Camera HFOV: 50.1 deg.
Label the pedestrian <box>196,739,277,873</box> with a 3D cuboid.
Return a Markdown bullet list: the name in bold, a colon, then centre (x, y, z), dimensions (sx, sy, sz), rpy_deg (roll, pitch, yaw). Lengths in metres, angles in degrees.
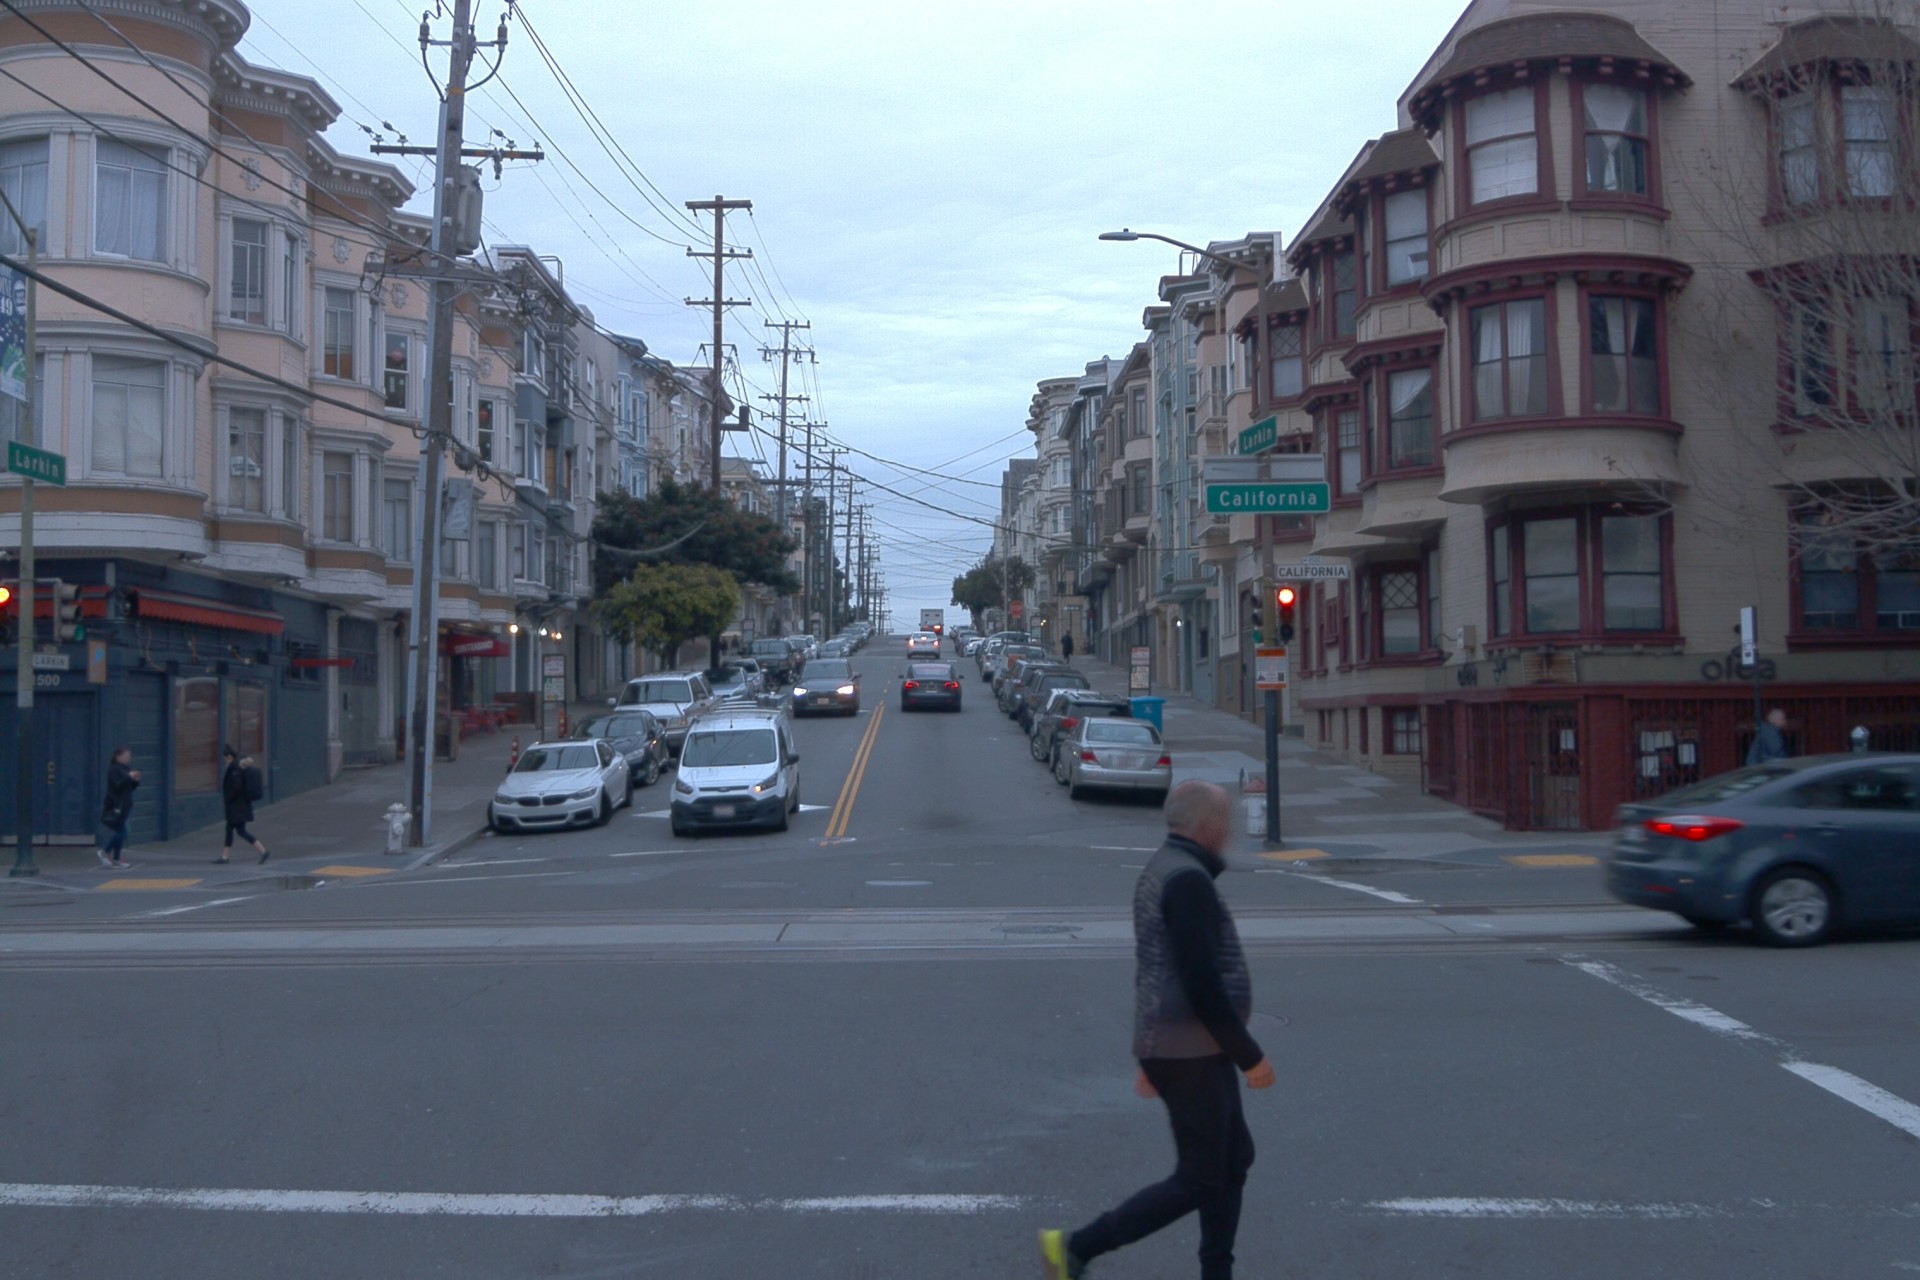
- **pedestrian**: centre (-10.244, 2.340, 29.147), dimensions (0.943, 1.820, 0.723), rpy_deg (0, 1, -8)

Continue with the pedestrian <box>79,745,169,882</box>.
- **pedestrian**: centre (-11.502, 2.373, 28.326), dimensions (0.941, 1.800, 0.776), rpy_deg (0, 1, -4)

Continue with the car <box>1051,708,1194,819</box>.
- **car**: centre (2.940, 2.236, 38.182), dimensions (2.108, 1.700, 4.470), rpy_deg (0, 1, -2)

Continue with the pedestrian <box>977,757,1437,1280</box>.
- **pedestrian**: centre (0.726, 1.258, 6.384), dimensions (1.248, 1.716, 0.879), rpy_deg (0, 1, -5)

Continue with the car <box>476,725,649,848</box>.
- **car**: centre (-6.810, 2.477, 35.708), dimensions (2.150, 1.707, 4.680), rpy_deg (0, 1, -1)

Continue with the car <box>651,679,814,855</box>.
- **car**: centre (-3.618, 1.978, 33.587), dimensions (2.196, 2.490, 4.690), rpy_deg (0, 1, -1)
